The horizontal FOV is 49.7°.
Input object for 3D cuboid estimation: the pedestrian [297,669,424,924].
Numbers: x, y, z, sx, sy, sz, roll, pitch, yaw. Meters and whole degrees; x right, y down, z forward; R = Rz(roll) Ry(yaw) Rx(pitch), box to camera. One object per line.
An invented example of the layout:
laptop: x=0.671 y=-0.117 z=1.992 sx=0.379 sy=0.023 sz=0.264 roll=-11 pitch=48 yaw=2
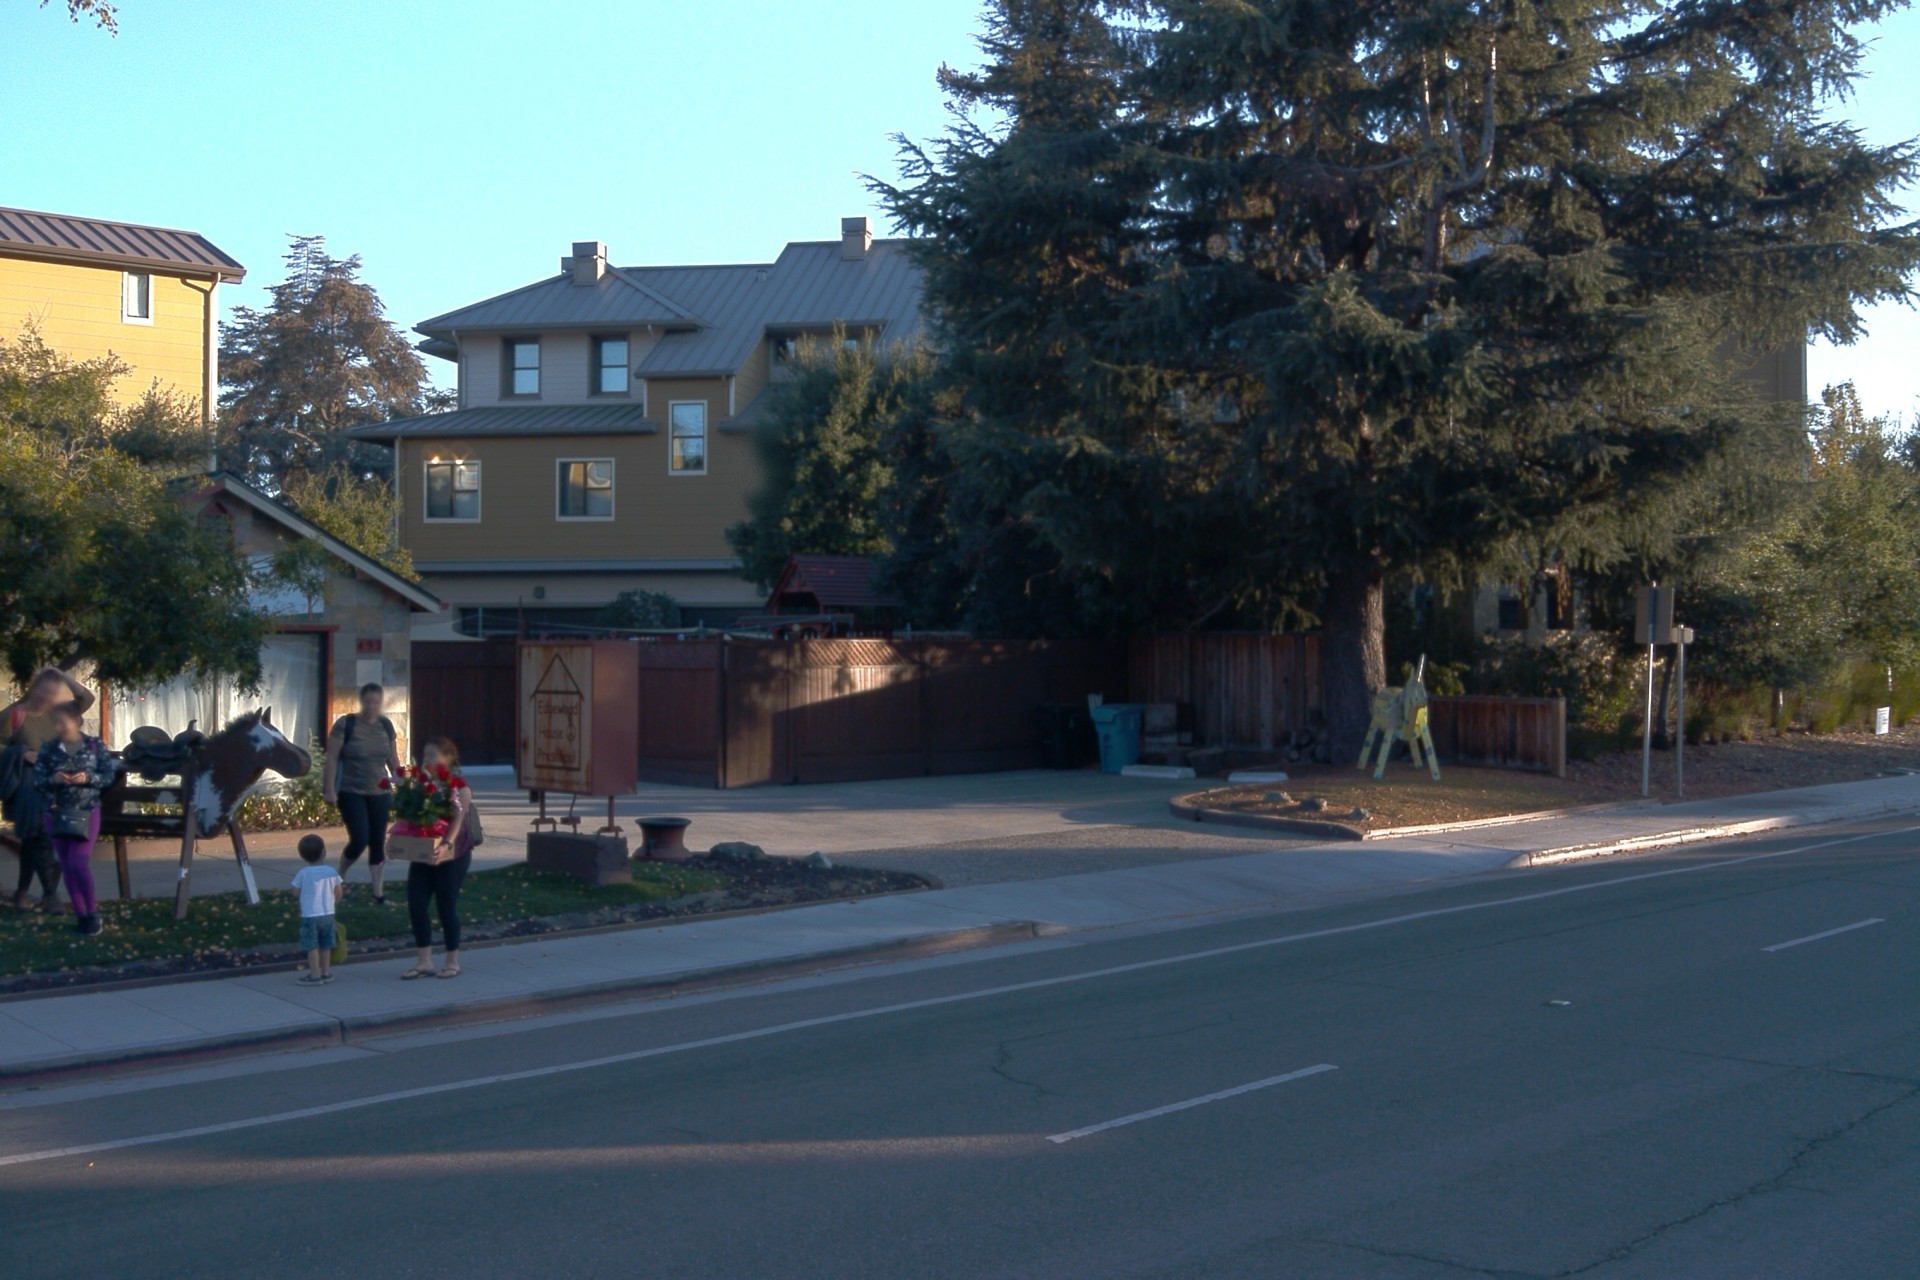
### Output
pedestrian: x=-4.474 y=1.135 z=15.452 sx=0.752 sy=1.810 sz=0.813 roll=0 pitch=0 yaw=-28

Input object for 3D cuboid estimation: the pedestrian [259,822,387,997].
pedestrian: x=-4.109 y=1.717 z=13.363 sx=0.628 sy=1.010 sz=0.632 roll=0 pitch=0 yaw=-33

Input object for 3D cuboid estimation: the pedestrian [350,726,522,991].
pedestrian: x=-3.431 y=1.403 z=13.641 sx=0.730 sy=1.630 sz=1.001 roll=0 pitch=0 yaw=11
